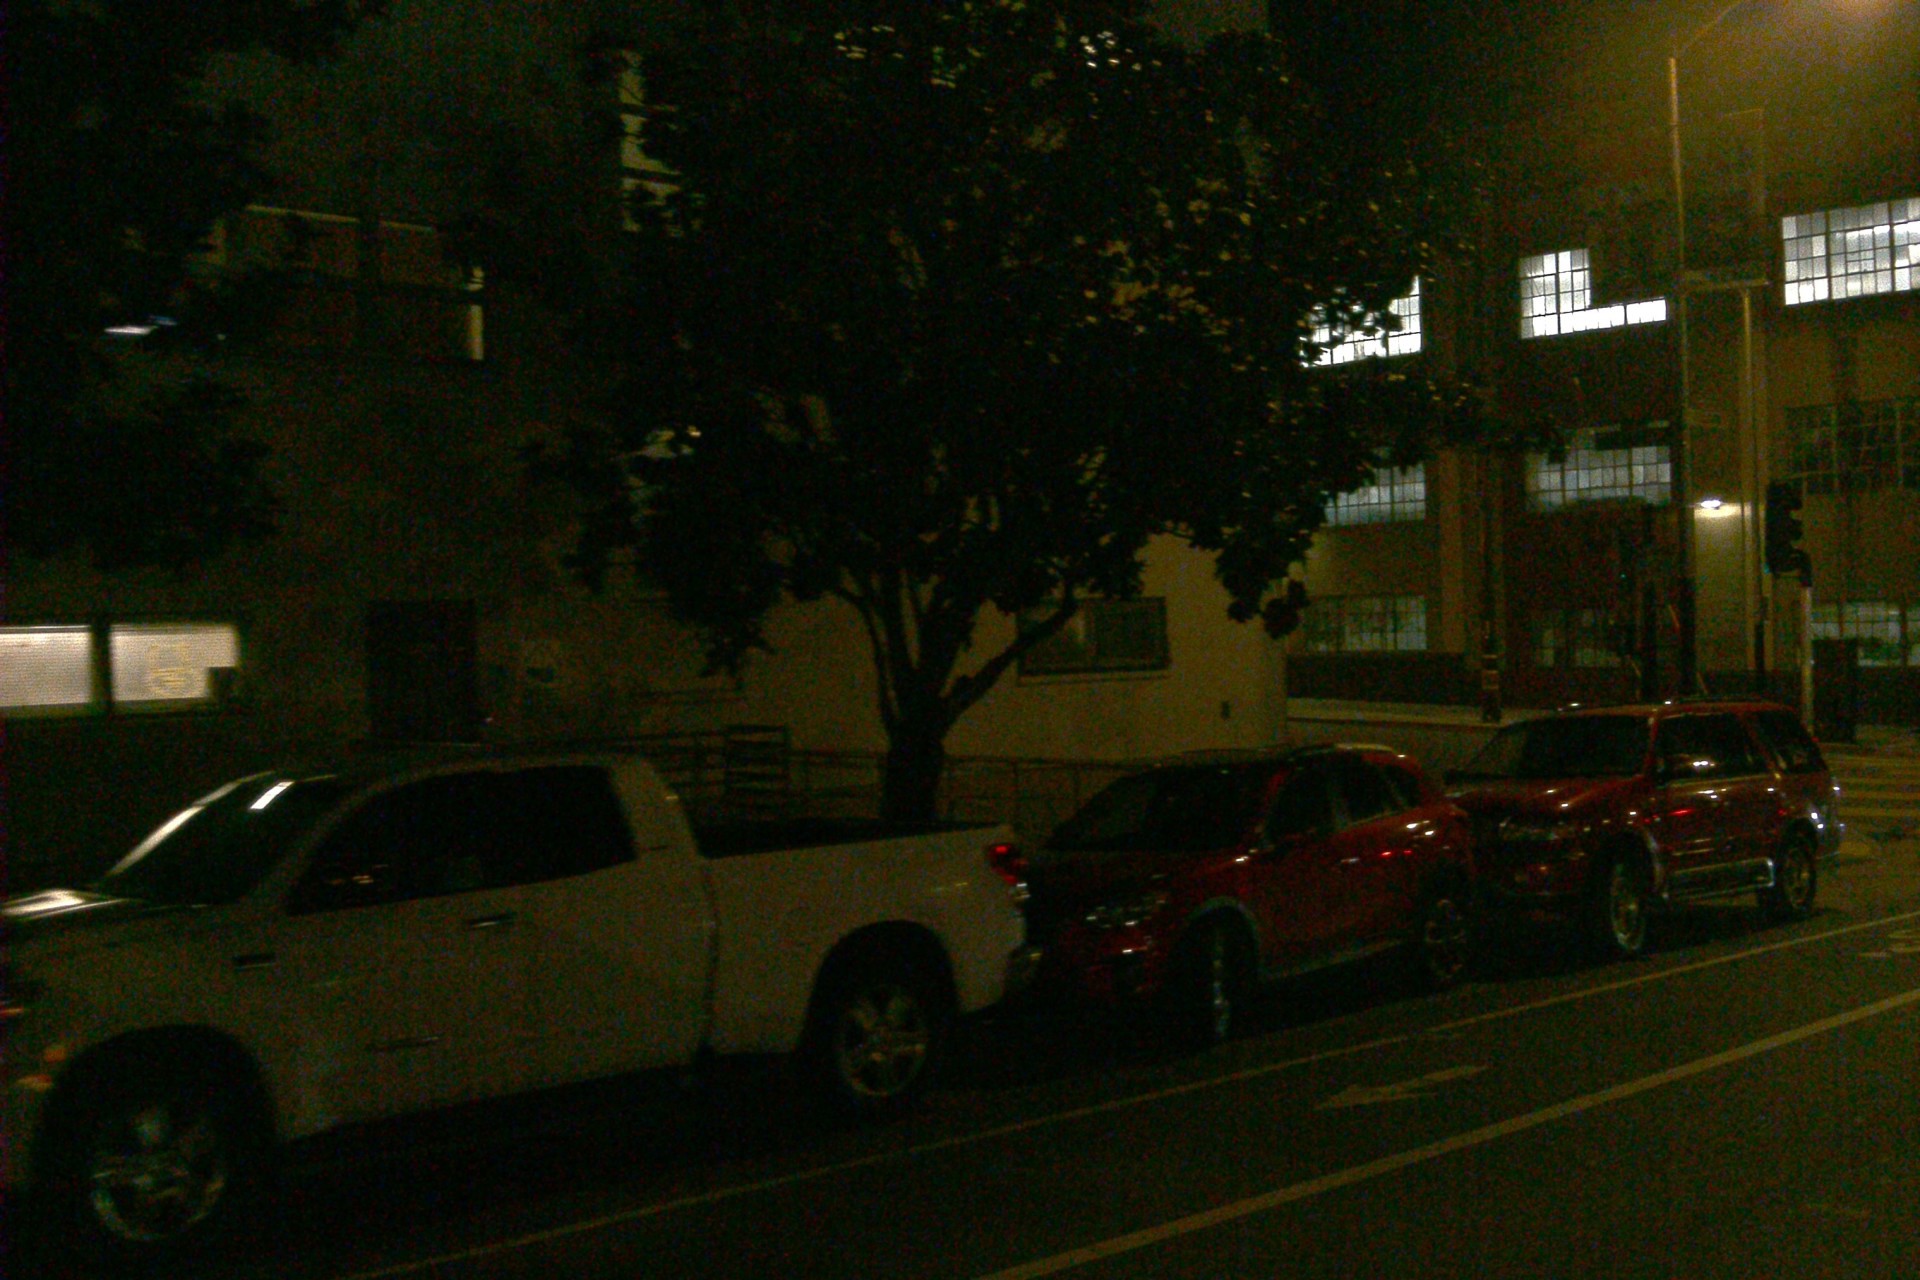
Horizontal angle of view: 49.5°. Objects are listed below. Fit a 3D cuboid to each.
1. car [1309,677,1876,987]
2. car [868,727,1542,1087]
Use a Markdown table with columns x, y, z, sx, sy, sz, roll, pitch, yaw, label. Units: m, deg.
| x | y | z | sx | sy | sz | roll | pitch | yaw | label |
| --- | --- | --- | --- | --- | --- | --- | --- | --- | --- |
| 5.381 | 1.386 | 17.230 | 2.244 | 2.100 | 5.322 | 0 | 0 | 45 | car |
| 1.764 | 1.541 | 13.625 | 1.977 | 1.770 | 4.649 | 0 | 0 | 43 | car |
